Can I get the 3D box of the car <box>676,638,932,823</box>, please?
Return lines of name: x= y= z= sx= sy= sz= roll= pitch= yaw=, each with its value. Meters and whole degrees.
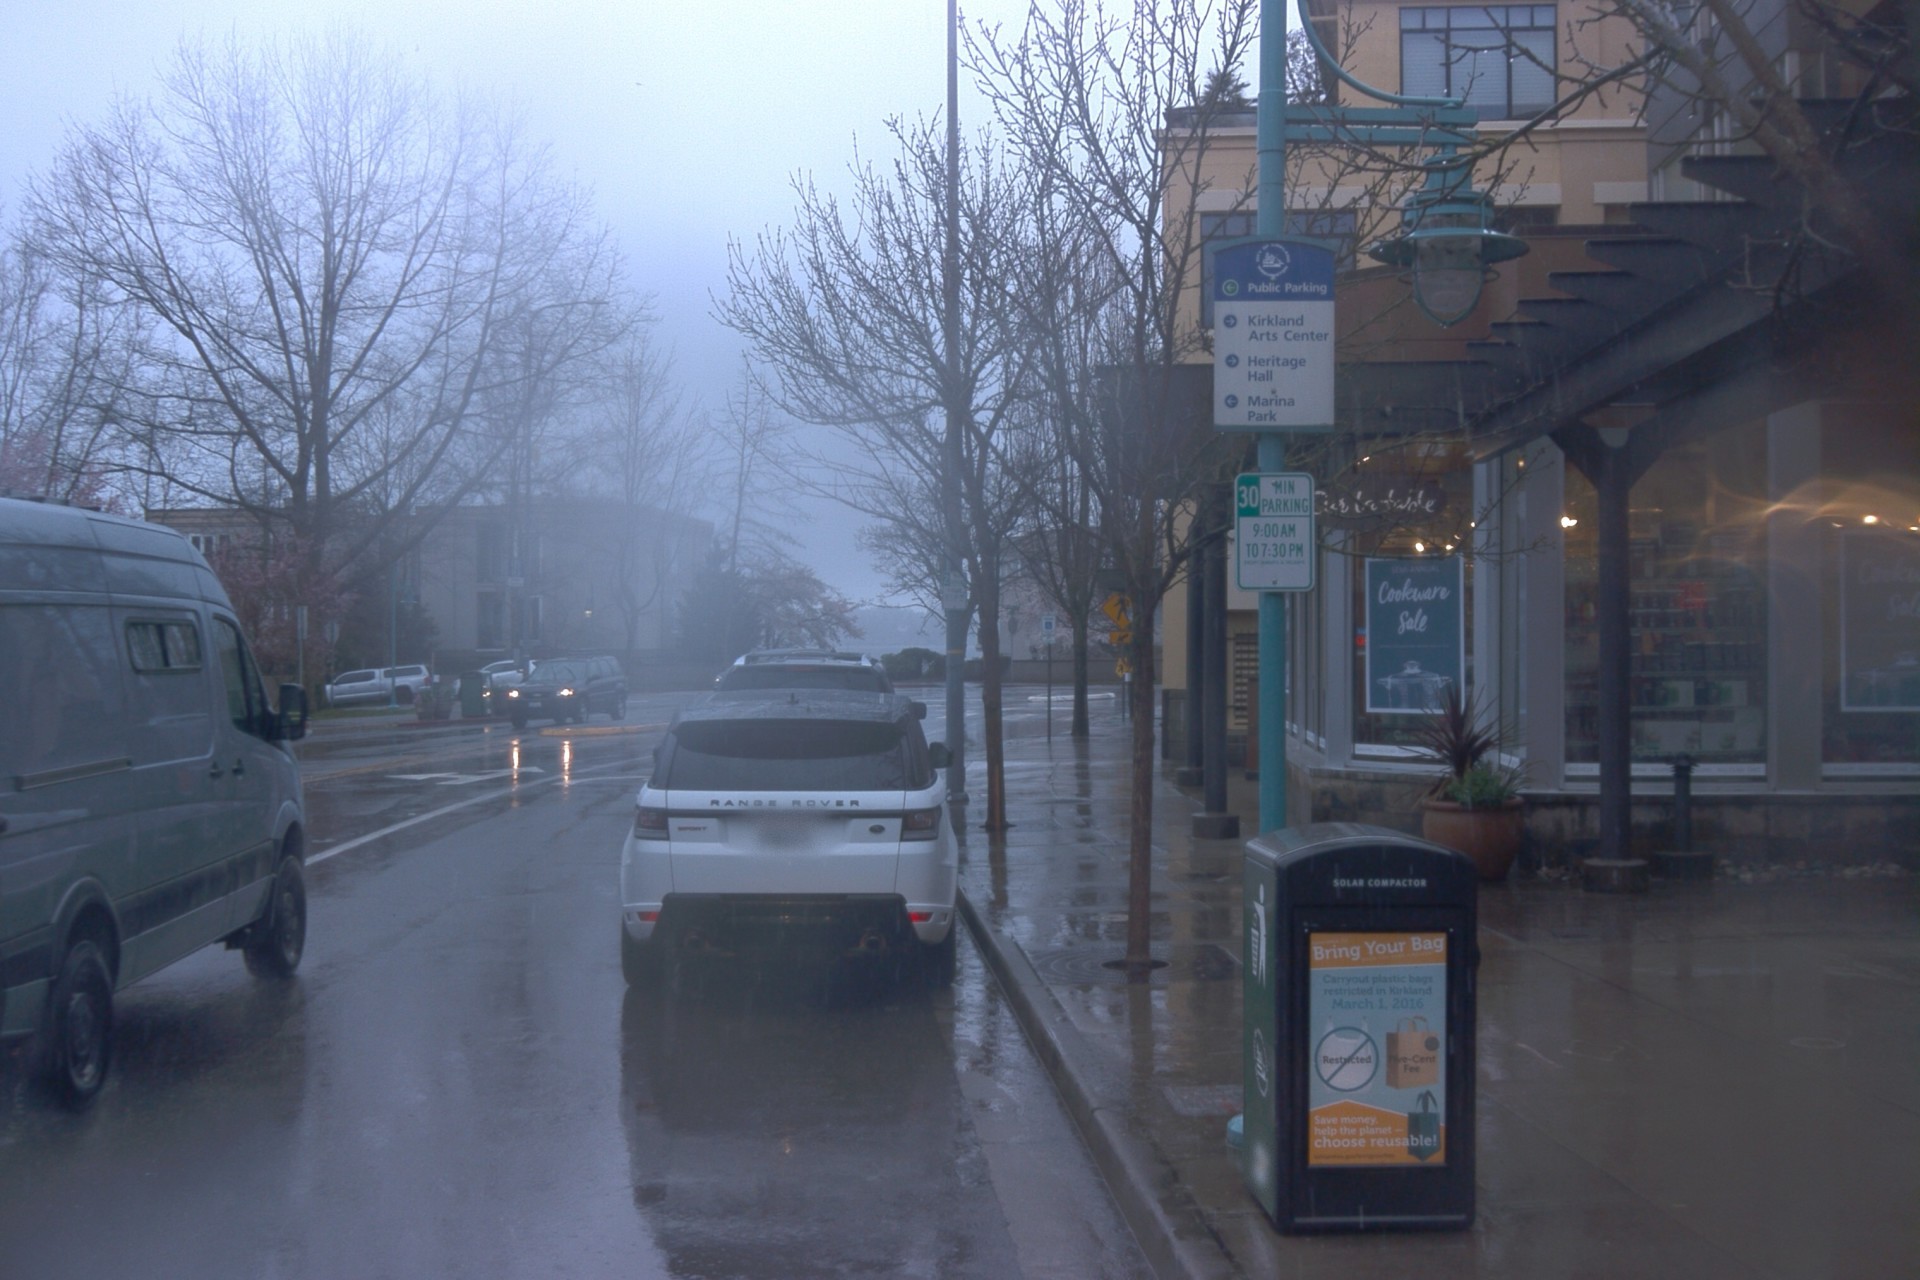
car: x=-1.564 y=0.800 z=20.463 sx=2.210 sy=1.560 sz=5.097 roll=1 pitch=0 yaw=-5

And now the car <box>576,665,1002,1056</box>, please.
car: x=-1.117 y=1.235 z=13.638 sx=2.265 sy=2.000 sz=5.124 roll=1 pitch=0 yaw=-5
